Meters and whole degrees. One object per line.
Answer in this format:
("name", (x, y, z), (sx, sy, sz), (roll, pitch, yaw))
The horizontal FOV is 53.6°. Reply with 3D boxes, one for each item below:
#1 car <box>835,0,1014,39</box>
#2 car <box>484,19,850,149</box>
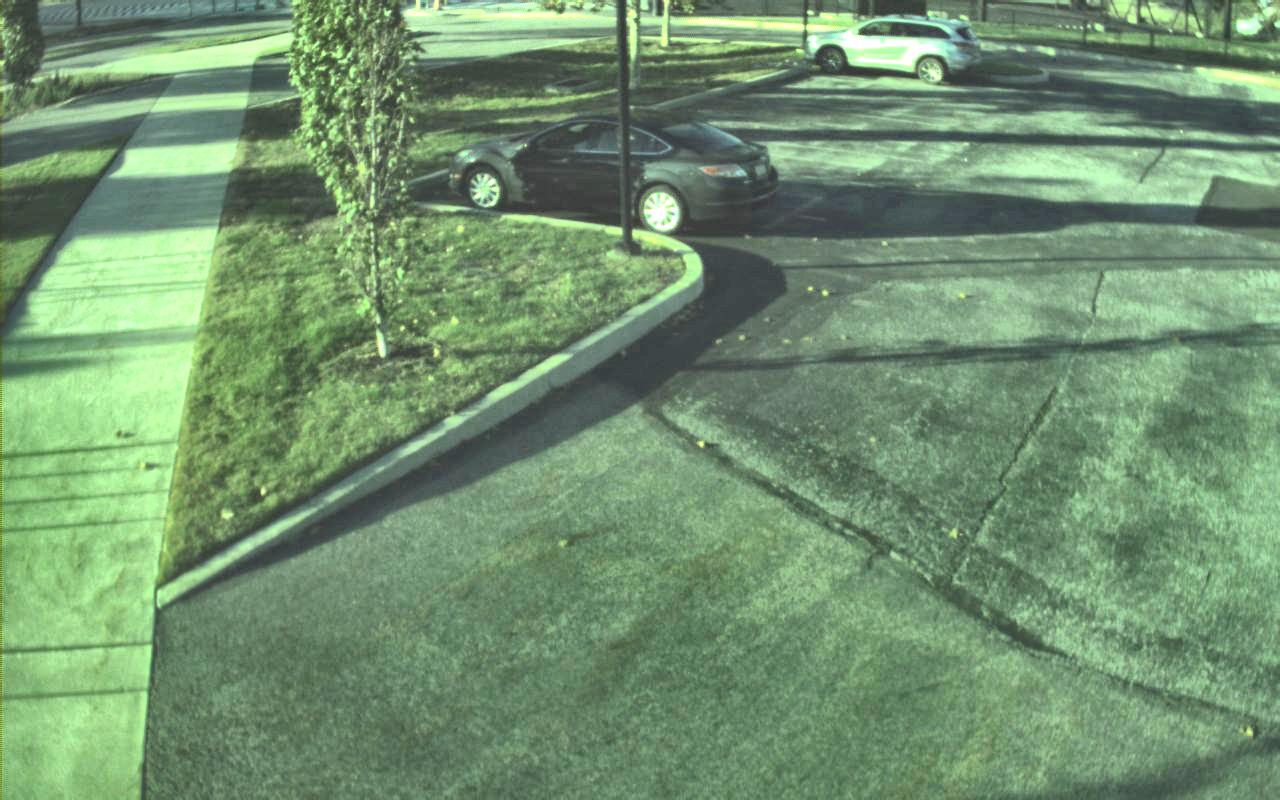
("car", (7.655, -10.536, 32.019), (4.562, 1.625, 1.957), (6, 17, 24))
("car", (0.344, -4.336, 16.874), (4.606, 1.607, 1.982), (7, 17, 27))
